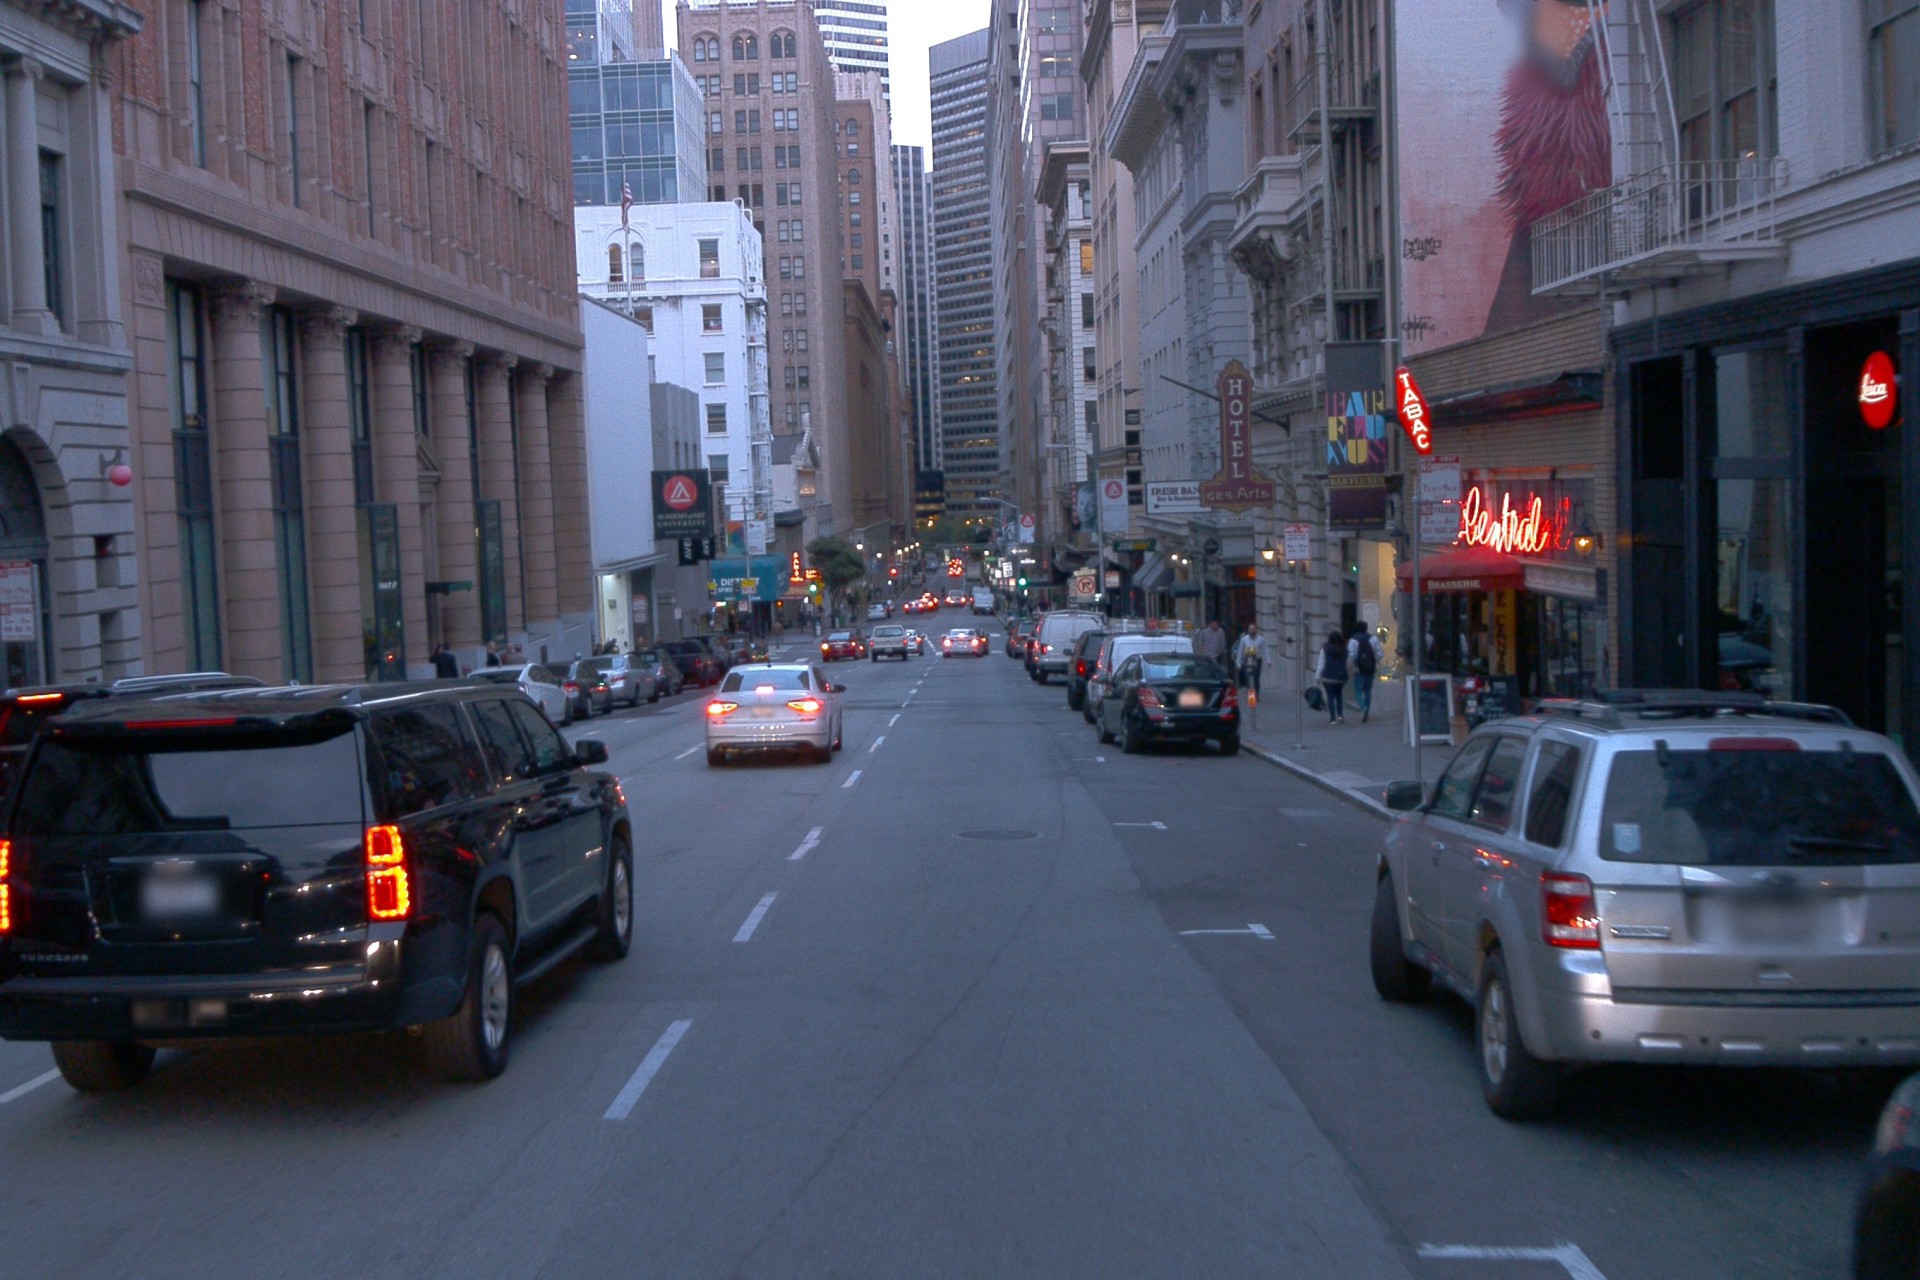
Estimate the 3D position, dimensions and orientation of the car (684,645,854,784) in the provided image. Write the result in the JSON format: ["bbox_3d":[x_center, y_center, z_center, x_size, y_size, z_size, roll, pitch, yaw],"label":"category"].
[{"bbox_3d":[-2.771,1.044,30.850,2.119,1.850,4.734,0,1,0],"label":"car"}]

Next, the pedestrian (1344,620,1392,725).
[{"bbox_3d":[6.892,0.543,34.744,0.706,1.756,0.786,0,1,4],"label":"pedestrian"}]

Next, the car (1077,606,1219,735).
[{"bbox_3d":[3.362,0.494,37.554,2.113,2.200,4.463,0,1,-1],"label":"car"}]

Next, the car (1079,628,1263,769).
[{"bbox_3d":[3.169,0.829,31.752,1.959,1.980,4.409,0,1,-6],"label":"car"}]

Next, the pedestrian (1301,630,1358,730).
[{"bbox_3d":[6.202,0.658,34.568,0.897,1.656,0.910,0,1,7],"label":"pedestrian"}]
